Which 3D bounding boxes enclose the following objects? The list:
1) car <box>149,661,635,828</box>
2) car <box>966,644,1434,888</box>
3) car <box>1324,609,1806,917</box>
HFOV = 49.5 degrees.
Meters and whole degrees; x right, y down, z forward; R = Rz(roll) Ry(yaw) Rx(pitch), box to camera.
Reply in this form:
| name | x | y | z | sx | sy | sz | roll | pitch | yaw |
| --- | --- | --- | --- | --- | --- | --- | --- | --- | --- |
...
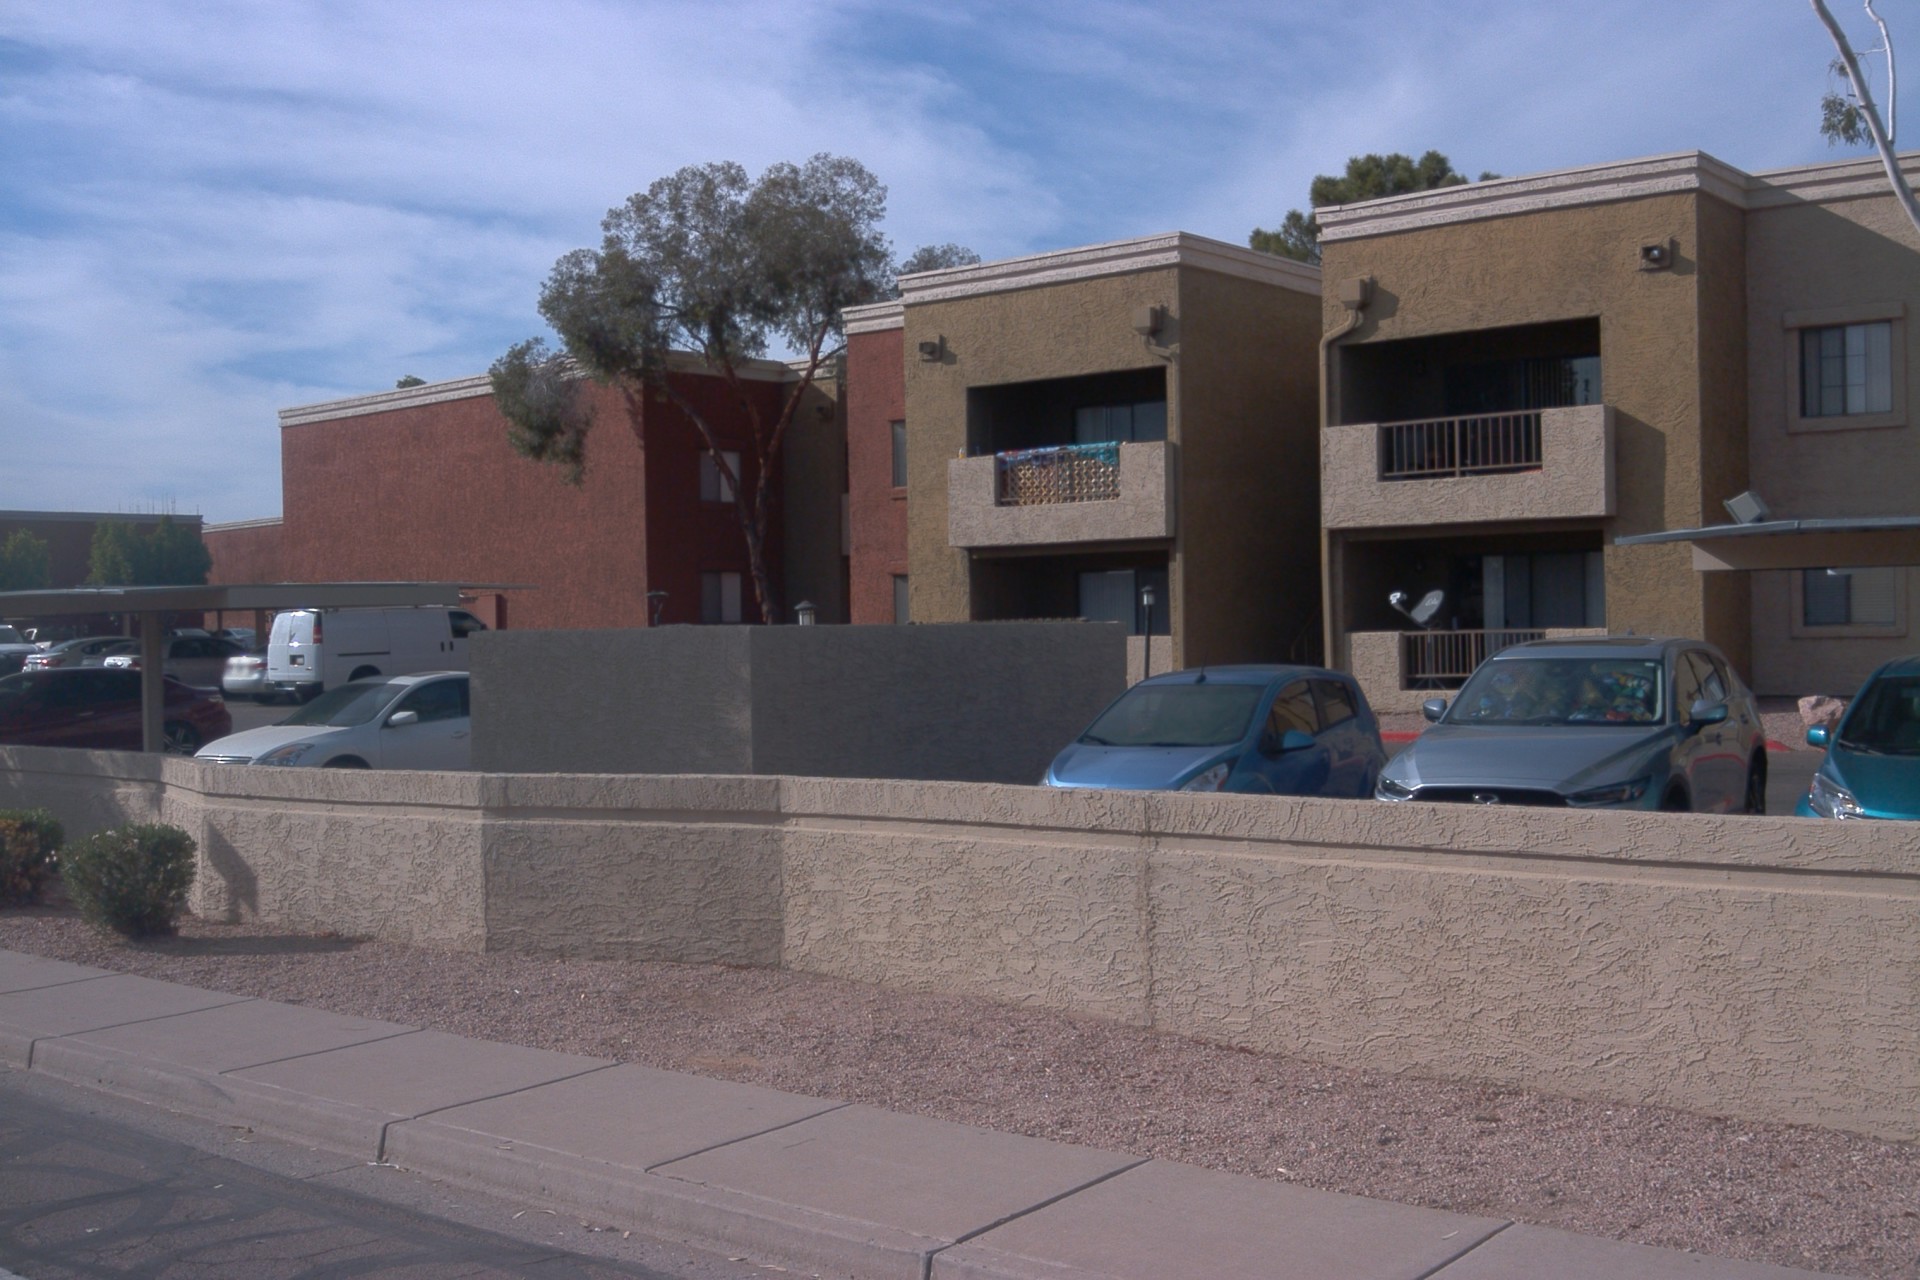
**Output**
| name | x | y | z | sx | sy | sz | roll | pitch | yaw |
| --- | --- | --- | --- | --- | --- | --- | --- | --- | --- |
| car | -5.940 | 1.040 | 22.305 | 2.042 | 1.590 | 4.760 | 0 | -1 | 37 |
| car | 1.914 | 0.845 | 15.524 | 1.997 | 1.570 | 3.834 | 0 | -1 | 32 |
| car | 4.323 | 0.745 | 14.338 | 2.122 | 1.760 | 4.379 | 0 | -1 | 31 |
